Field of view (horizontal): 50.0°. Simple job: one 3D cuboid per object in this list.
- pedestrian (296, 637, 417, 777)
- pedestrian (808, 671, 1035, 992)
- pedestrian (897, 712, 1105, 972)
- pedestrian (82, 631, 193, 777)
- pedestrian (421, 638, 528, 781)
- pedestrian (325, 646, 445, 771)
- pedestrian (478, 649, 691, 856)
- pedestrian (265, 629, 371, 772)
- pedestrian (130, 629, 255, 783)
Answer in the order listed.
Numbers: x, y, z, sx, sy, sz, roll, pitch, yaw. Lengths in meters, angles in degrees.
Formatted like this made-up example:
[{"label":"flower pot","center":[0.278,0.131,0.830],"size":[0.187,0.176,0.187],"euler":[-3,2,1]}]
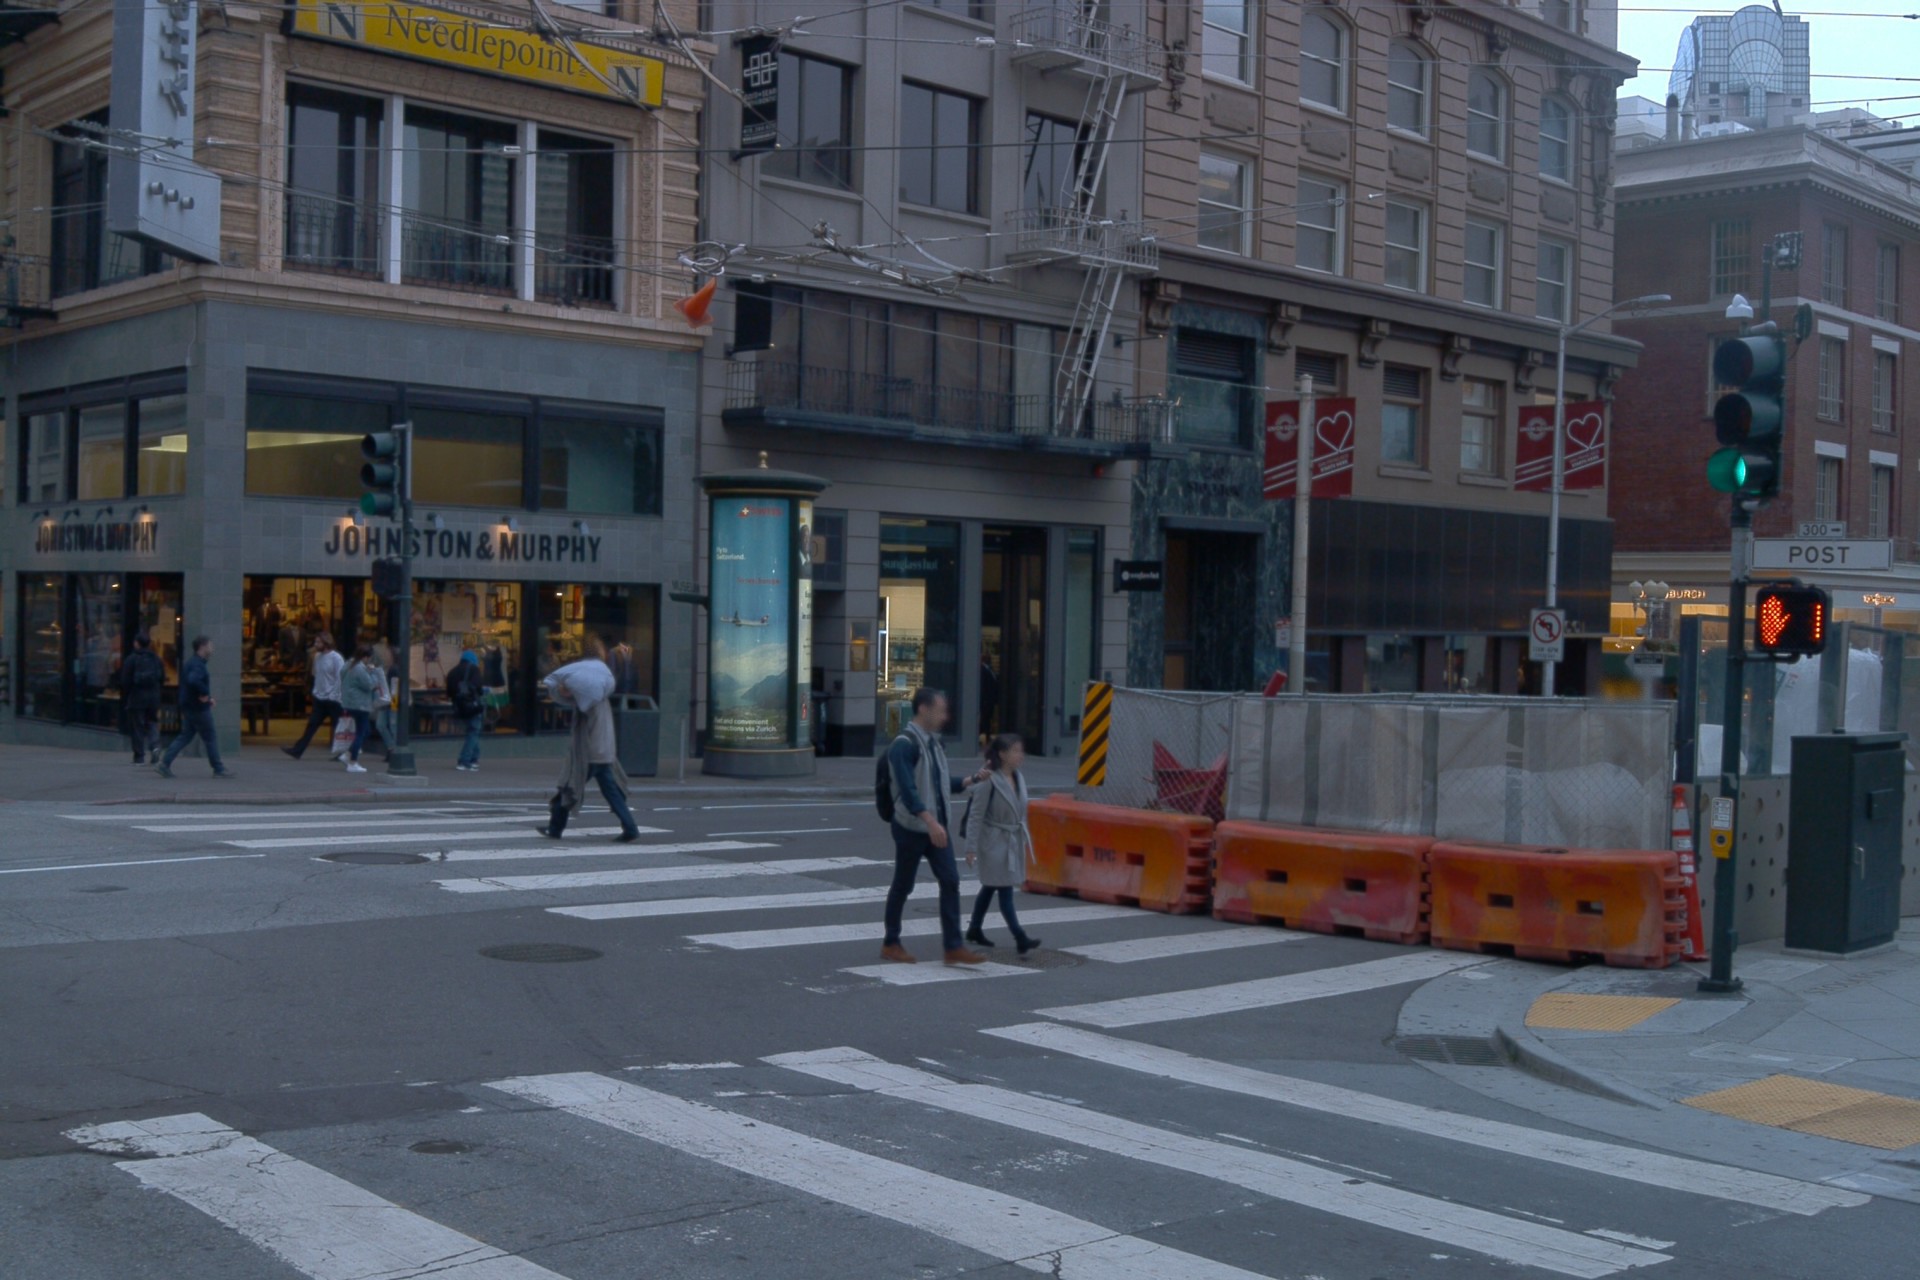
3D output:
[{"label":"pedestrian","center":[-7.625,0.825,25.984],"size":[1.090,1.710,1.177],"euler":[0,0,-39]},{"label":"pedestrian","center":[-0.247,1.196,13.466],"size":[1.115,1.960,1.012],"euler":[0,0,32]},{"label":"pedestrian","center":[0.286,1.358,14.267],"size":[1.115,1.660,0.918],"euler":[0,0,36]},{"label":"pedestrian","center":[-10.247,0.777,25.639],"size":[1.164,1.770,0.890],"euler":[0,0,45]},{"label":"pedestrian","center":[-6.491,0.909,27.501],"size":[1.001,1.860,0.999],"euler":[0,0,41]},{"label":"pedestrian","center":[-7.804,0.907,27.933],"size":[1.002,1.640,1.208],"euler":[0,0,39]},{"label":"pedestrian","center":[-3.496,1.008,19.316],"size":[1.393,1.830,1.609],"euler":[0,0,16]},{"label":"pedestrian","center":[-8.566,0.779,27.448],"size":[1.001,1.860,0.999],"euler":[0,0,44]},{"label":"pedestrian","center":[-9.011,0.750,24.146],"size":[1.110,1.760,0.954],"euler":[0,0,-40]}]
